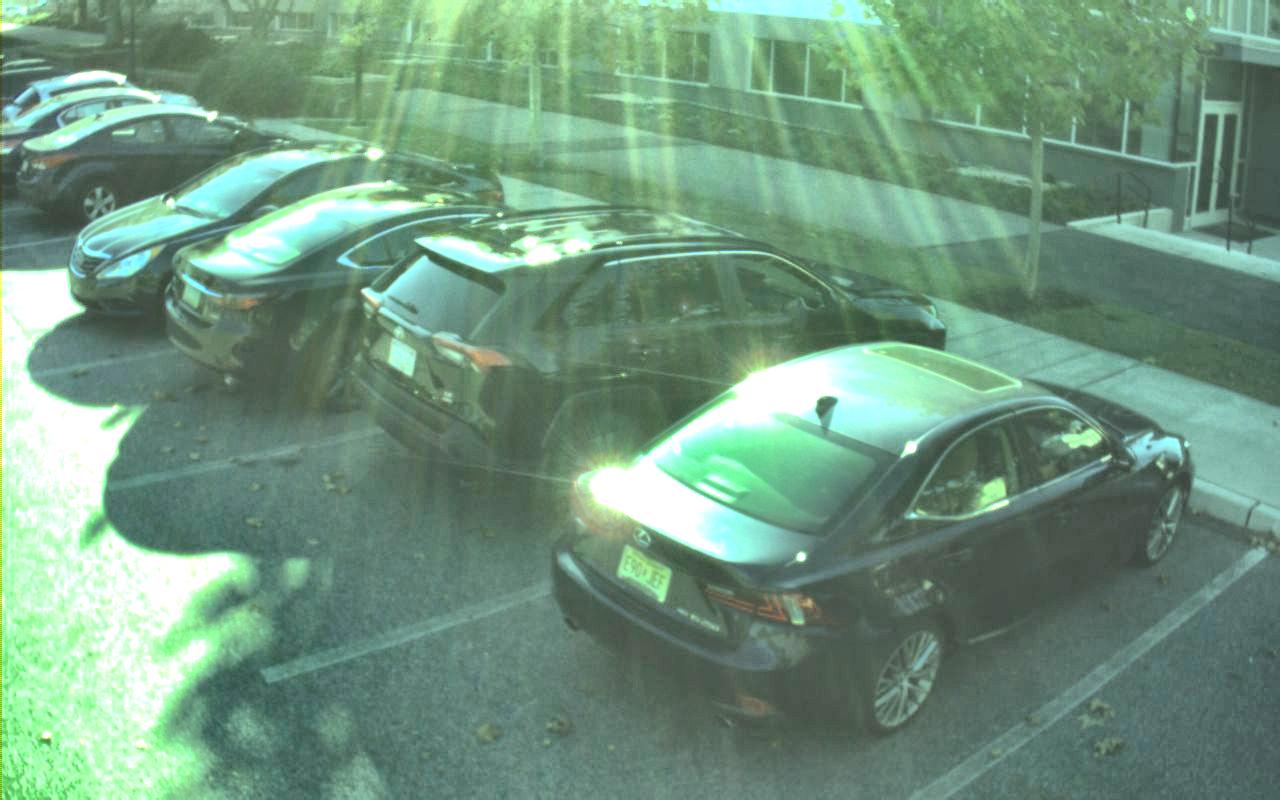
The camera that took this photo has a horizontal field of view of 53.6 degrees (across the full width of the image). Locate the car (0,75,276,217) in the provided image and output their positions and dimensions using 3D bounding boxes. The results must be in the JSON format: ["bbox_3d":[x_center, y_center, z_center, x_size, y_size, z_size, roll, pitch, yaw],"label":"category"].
[{"bbox_3d":[-8.033,-3.990,17.885,4.515,1.572,1.952,-13,20,-35],"label":"car"}]

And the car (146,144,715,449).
[{"bbox_3d":[-1.651,-1.080,10.332,4.491,1.584,1.950,-16,22,-40],"label":"car"}]

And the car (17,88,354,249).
[{"bbox_3d":[-6.311,-3.257,16.095,4.505,1.566,1.936,-14,21,-37],"label":"car"}]

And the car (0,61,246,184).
[{"bbox_3d":[-9.279,-4.912,20.202,4.419,1.597,1.933,-14,21,-37],"label":"car"}]

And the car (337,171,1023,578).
[{"bbox_3d":[0.479,-0.480,8.655,4.586,1.657,1.970,-14,20,-36],"label":"car"}]

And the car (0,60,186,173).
[{"bbox_3d":[-11.199,-5.527,21.963,4.476,1.610,1.952,-13,20,-35],"label":"car"}]

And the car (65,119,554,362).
[{"bbox_3d":[-3.292,-1.739,12.023,4.586,1.600,1.984,-14,21,-37],"label":"car"}]
